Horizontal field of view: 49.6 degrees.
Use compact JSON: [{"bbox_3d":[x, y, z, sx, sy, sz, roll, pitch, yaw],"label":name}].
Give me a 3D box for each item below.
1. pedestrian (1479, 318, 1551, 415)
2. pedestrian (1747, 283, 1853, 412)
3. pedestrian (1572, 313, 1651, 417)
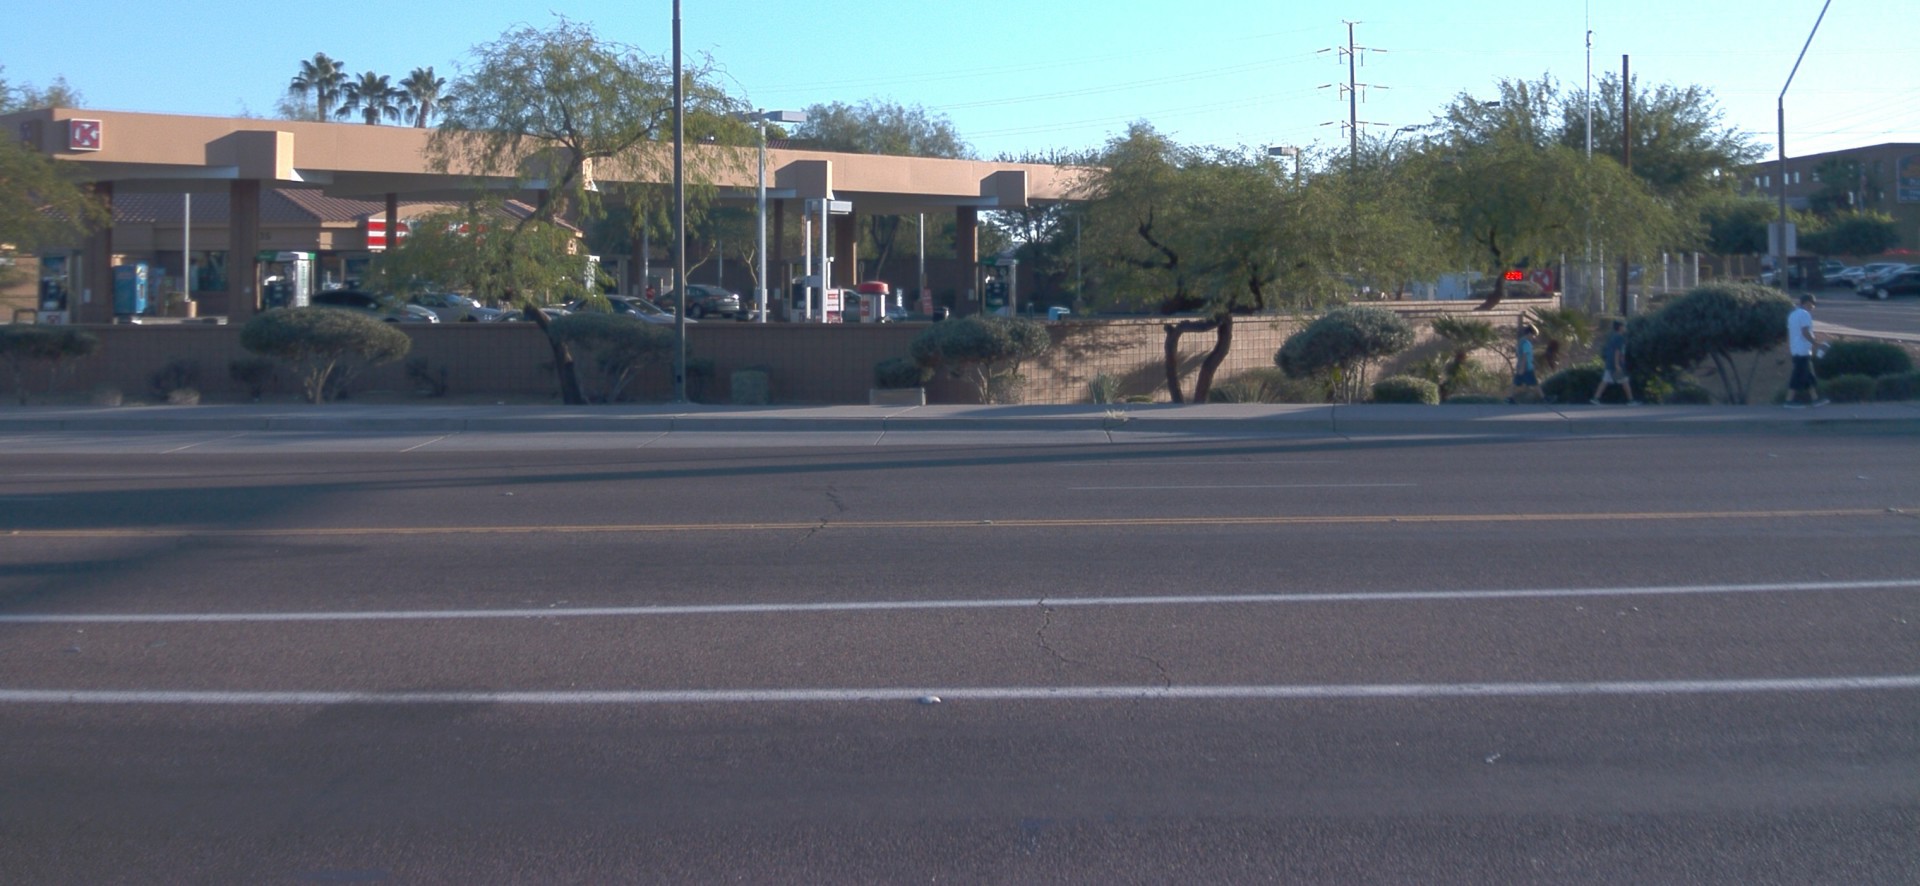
[{"bbox_3d":[8.075,-1.124,30.225,0.912,1.360,0.780,0,1,8],"label":"pedestrian"},{"bbox_3d":[11.893,-1.362,29.424,1.152,1.777,0.862,-1,1,0],"label":"pedestrian"},{"bbox_3d":[9.657,-1.163,30.797,0.907,1.490,0.826,-1,1,1],"label":"pedestrian"}]
